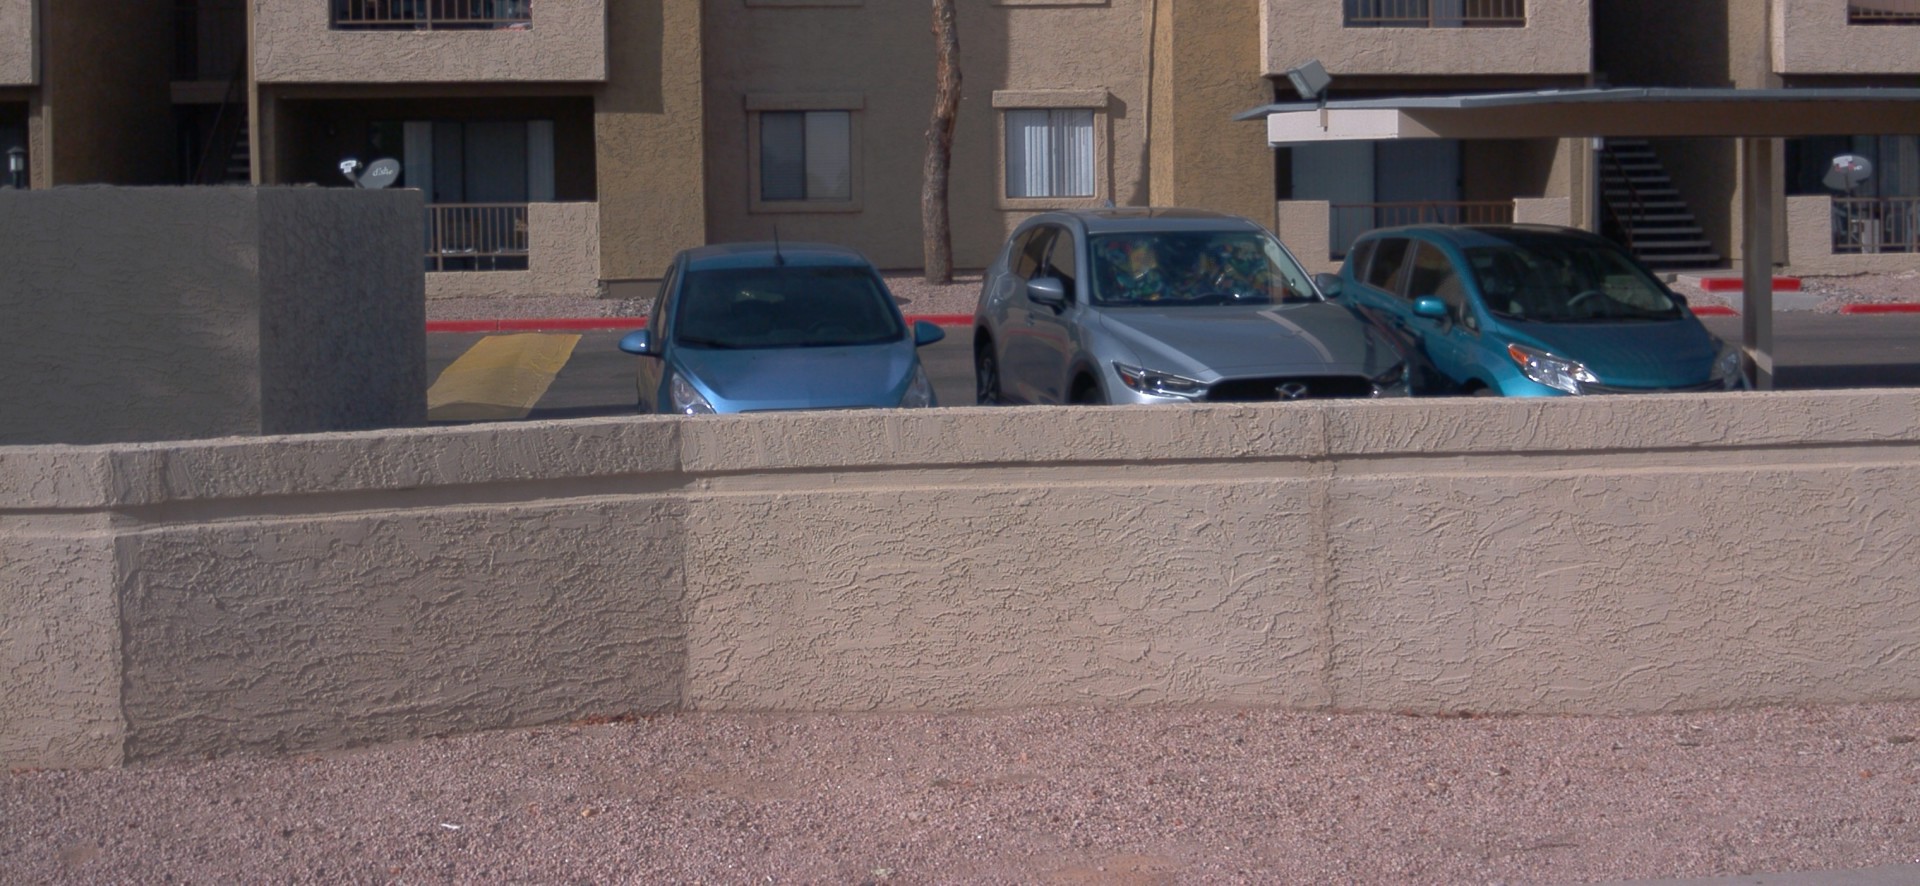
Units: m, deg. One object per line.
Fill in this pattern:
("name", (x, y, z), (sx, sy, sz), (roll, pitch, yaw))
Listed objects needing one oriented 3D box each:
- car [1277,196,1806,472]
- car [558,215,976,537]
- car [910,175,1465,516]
("car", (3.653, -0.810, 13.877), (1.936, 1.555, 3.814), (-1, 5, -10))
("car", (-1.303, -0.522, 12.297), (1.993, 1.565, 3.857), (-1, 5, -12))
("car", (1.183, -0.728, 13.160), (2.118, 1.755, 4.404), (-1, 5, -13))
